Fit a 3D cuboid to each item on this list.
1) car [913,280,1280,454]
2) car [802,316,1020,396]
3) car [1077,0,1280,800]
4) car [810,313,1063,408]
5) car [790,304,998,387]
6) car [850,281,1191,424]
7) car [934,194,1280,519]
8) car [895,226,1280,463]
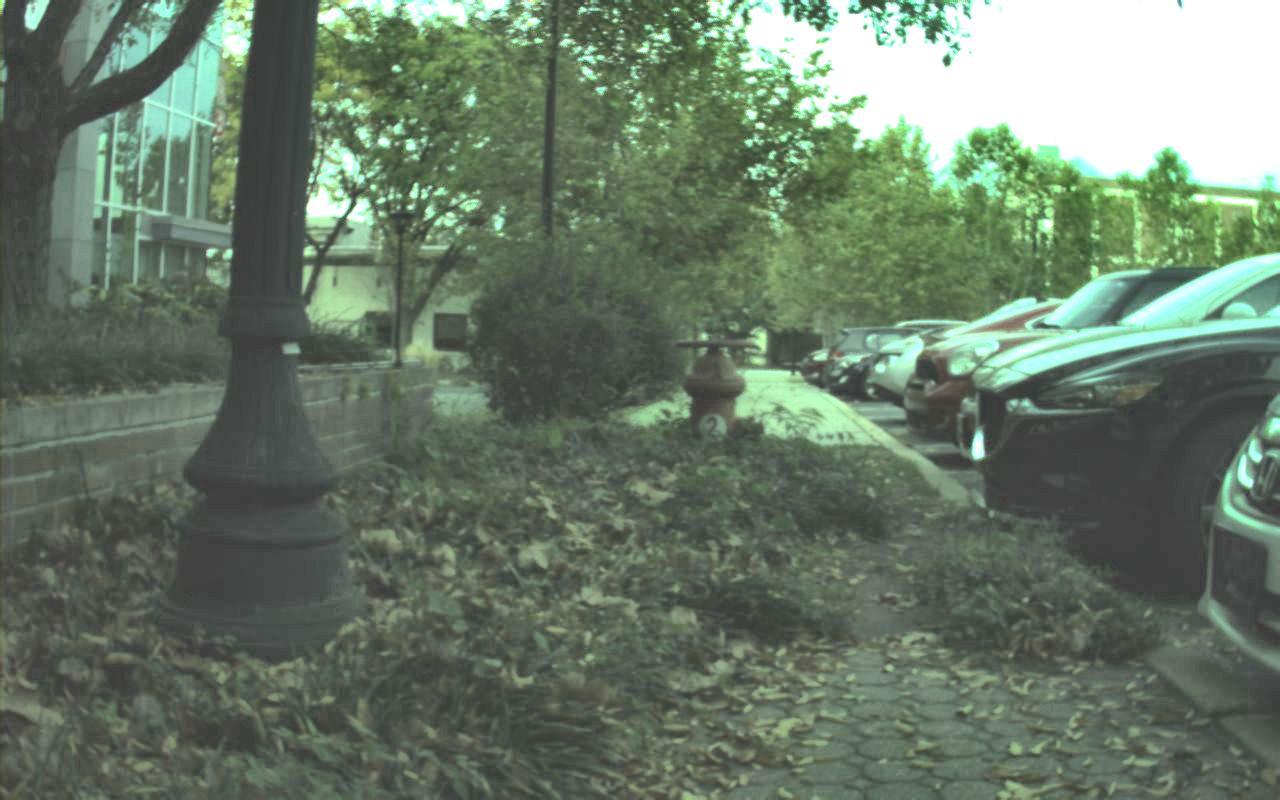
[{"bbox_3d":[5.203,-0.305,12.389,4.615,1.637,1.980,1,1,5],"label":"car"},{"bbox_3d":[5.490,-0.879,25.442,4.353,1.557,1.905,1,1,6],"label":"car"},{"bbox_3d":[3.283,0.071,1.988,4.401,1.627,1.988,1,1,6],"label":"car"},{"bbox_3d":[5.462,-0.711,23.024,4.553,1.655,1.973,1,1,5],"label":"car"},{"bbox_3d":[5.674,-1.183,27.965,4.462,1.750,1.963,0,1,1],"label":"car"},{"bbox_3d":[4.702,-0.553,15.213,4.150,1.647,1.877,1,1,7],"label":"car"},{"bbox_3d":[3.975,-0.215,6.841,4.484,1.661,2.038,1,1,11],"label":"car"},{"bbox_3d":[4.382,-0.388,9.447,4.517,1.637,2.041,1,1,2],"label":"car"}]
